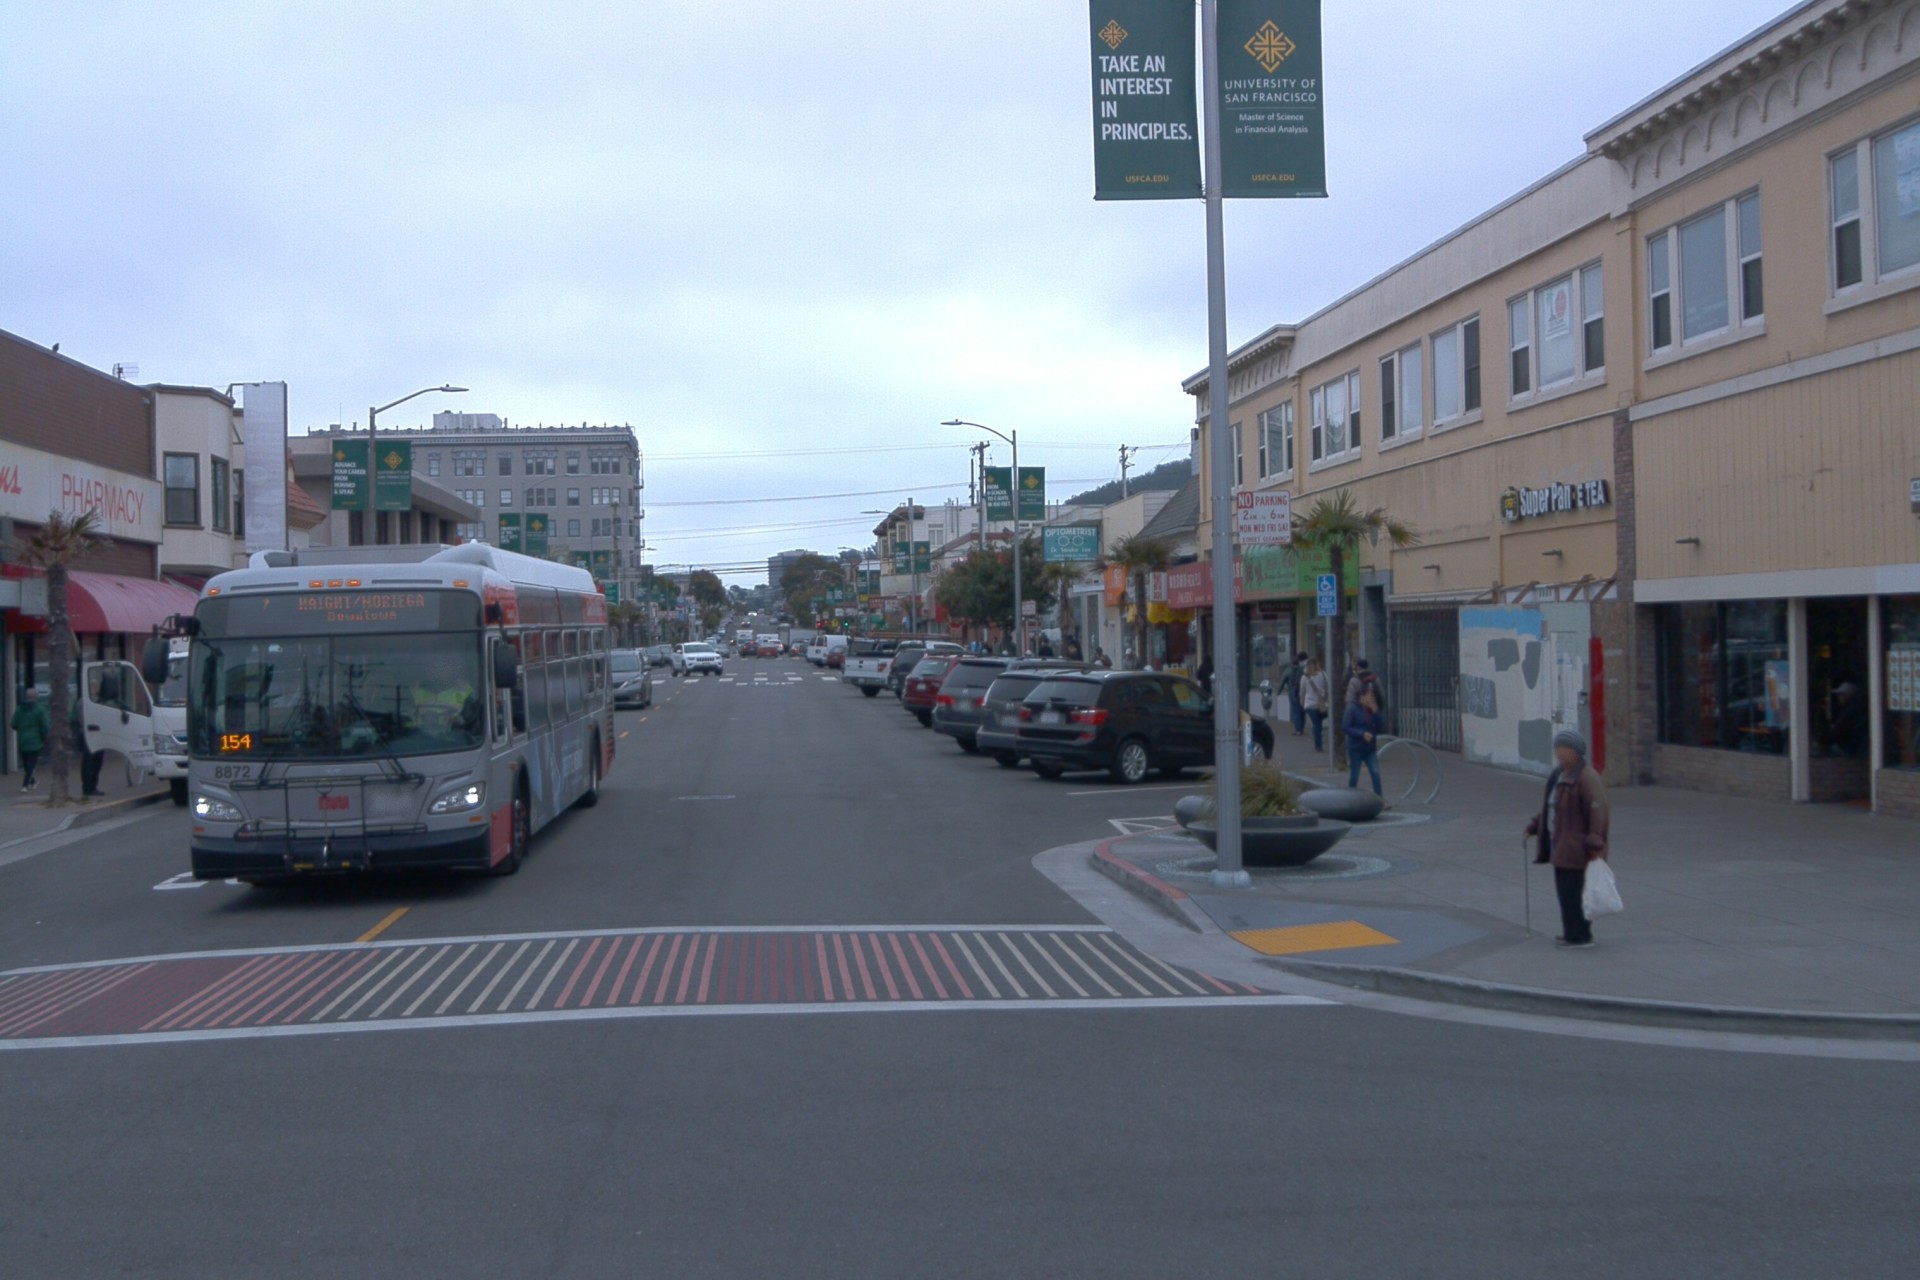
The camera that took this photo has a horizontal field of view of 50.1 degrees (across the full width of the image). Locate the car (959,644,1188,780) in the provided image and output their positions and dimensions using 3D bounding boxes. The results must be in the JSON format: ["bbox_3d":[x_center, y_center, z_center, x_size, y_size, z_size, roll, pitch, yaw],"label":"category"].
[{"bbox_3d":[1.918,1.133,33.955,3.671,2.040,1.761,-1,1,-45],"label":"car"}]

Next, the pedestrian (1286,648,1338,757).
[{"bbox_3d":[6.079,1.069,35.583,0.711,1.824,0.916,0,1,-2],"label":"pedestrian"}]

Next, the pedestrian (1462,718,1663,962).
[{"bbox_3d":[3.995,1.295,13.693,0.827,1.477,1.073,-1,1,-17],"label":"pedestrian"}]

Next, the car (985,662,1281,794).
[{"bbox_3d":[2.720,1.281,31.604,4.509,1.740,2.044,-1,1,-43],"label":"car"}]

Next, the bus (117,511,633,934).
[{"bbox_3d":[-5.835,0.575,23.348,3.211,3.480,12.604,0,1,-5],"label":"bus"}]

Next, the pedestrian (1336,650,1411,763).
[{"bbox_3d":[6.654,1.061,33.126,0.922,1.770,0.951,0,1,-8],"label":"pedestrian"}]

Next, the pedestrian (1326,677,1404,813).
[{"bbox_3d":[4.926,1.260,25.041,0.747,1.598,0.778,0,1,-4],"label":"pedestrian"}]

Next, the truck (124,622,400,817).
[{"bbox_3d":[-11.051,1.103,33.309,2.559,2.730,7.413,0,1,-5],"label":"truck"}]

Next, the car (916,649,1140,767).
[{"bbox_3d":[1.266,1.166,37.177,3.846,1.931,1.922,-1,1,-44],"label":"car"}]
